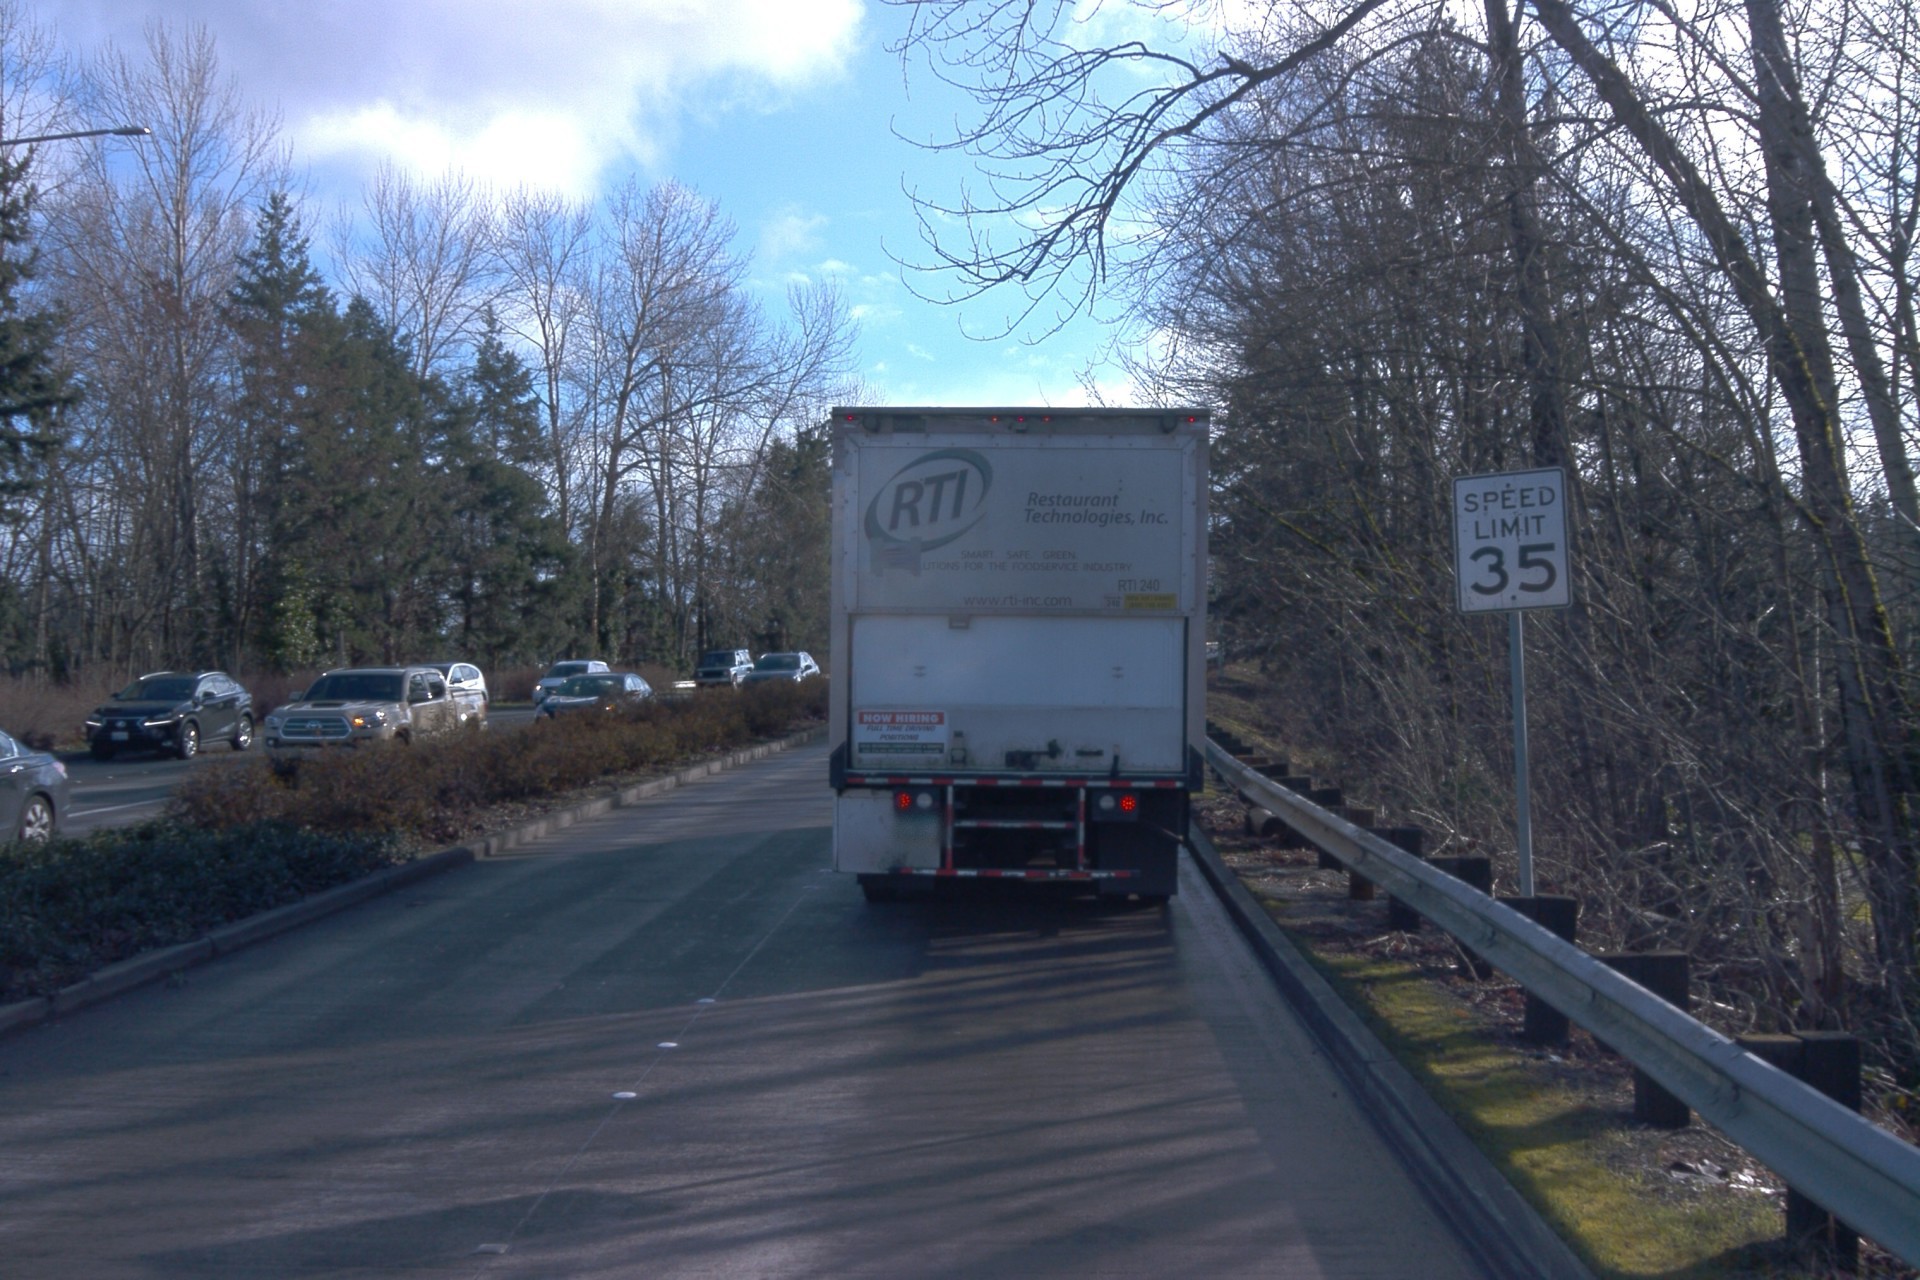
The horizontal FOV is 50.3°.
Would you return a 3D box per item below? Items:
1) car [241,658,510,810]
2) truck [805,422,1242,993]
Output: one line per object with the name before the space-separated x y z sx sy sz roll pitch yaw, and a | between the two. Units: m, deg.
car | -8.865 1.352 31.612 2.290 2.020 5.392 1 0 4
truck | 0.597 0.432 17.134 2.898 3.820 6.536 1 0 3
